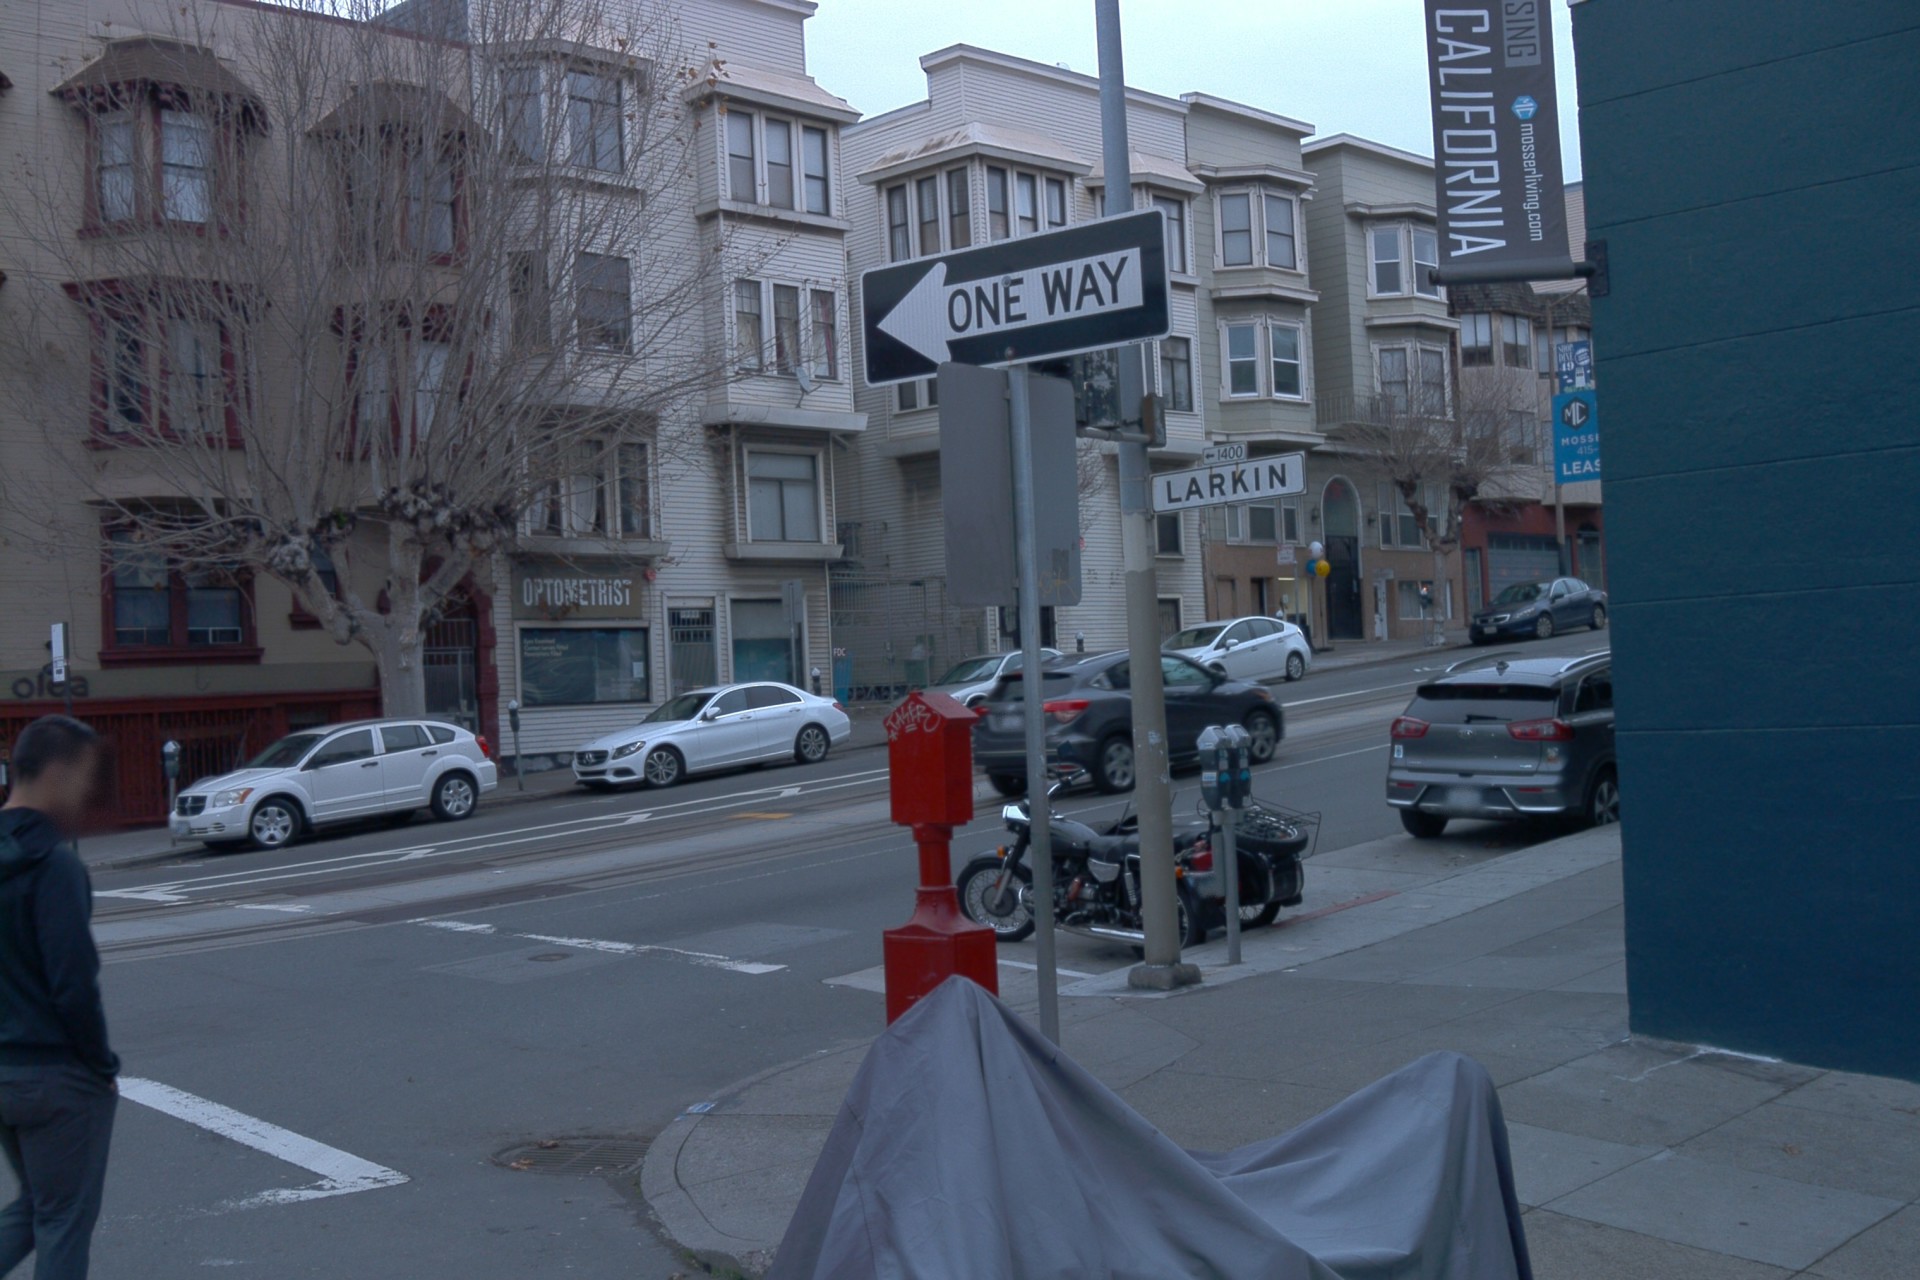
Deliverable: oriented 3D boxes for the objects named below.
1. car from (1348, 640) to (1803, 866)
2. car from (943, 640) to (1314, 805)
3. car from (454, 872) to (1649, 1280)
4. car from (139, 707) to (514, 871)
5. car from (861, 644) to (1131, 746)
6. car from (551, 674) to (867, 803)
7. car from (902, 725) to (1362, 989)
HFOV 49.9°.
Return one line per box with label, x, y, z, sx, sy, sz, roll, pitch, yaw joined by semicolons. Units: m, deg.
car;5.645;0.884;18.583;2.132;1.717;4.606;0;1;42
car;2.066;0.883;24.401;2.054;1.720;4.338;1;1;45
car;0.332;1.393;4.286;2.490;1.520;1.048;-1;1;-44
car;-8.482;1.919;27.919;2.053;1.847;4.407;1;1;44
car;0.712;0.921;37.121;4.801;1.657;2.084;-1;1;-45
car;-3.872;1.467;32.361;4.589;1.757;2.074;-1;1;-44
car;1.133;1.379;14.055;2.745;1.460;1.540;0;1;42
